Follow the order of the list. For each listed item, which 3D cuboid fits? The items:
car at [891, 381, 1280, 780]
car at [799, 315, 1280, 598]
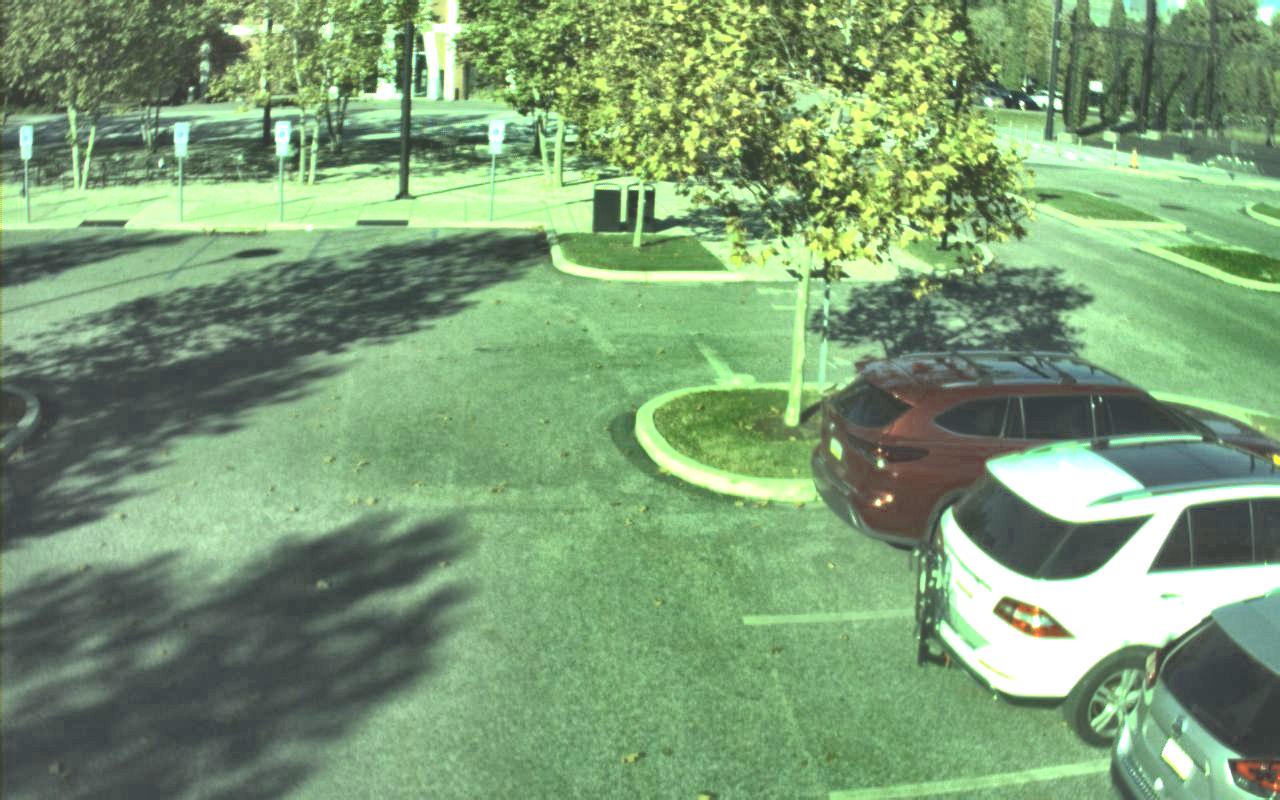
[{"bbox_3d":[4.294,1.151,8.497,4.527,1.729,1.994,-4,16,-10],"label":"car"},{"bbox_3d":[3.970,0.384,11.187,4.685,1.722,2.015,-3,16,-8],"label":"car"}]
